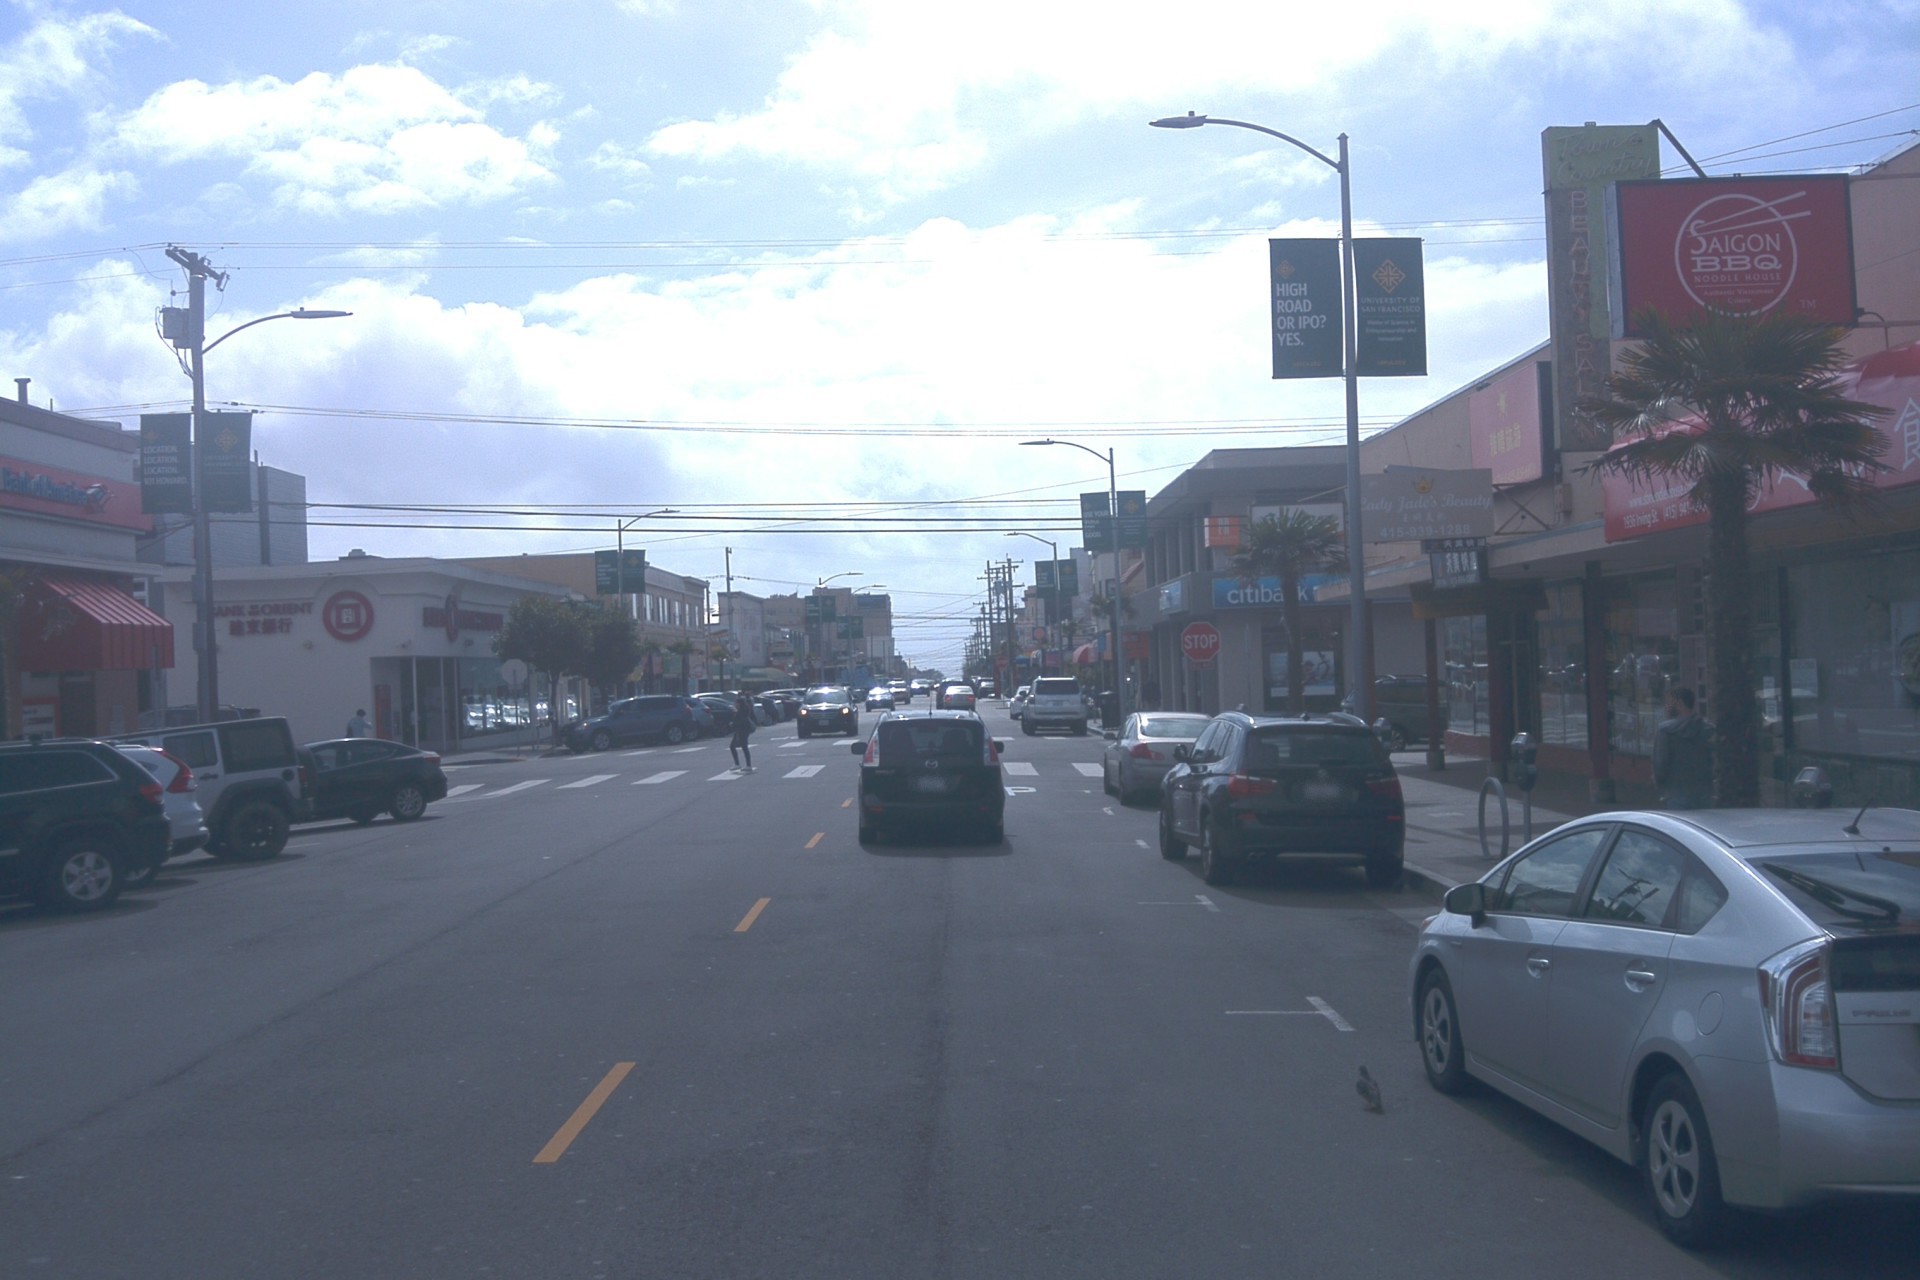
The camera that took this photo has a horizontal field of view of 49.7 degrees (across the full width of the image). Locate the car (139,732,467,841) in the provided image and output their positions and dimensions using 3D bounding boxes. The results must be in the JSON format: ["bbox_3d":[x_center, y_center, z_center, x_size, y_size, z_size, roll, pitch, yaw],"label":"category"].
[{"bbox_3d":[-10.483,2.295,33.277,4.590,1.478,2.019,1,-1,-43],"label":"car"}]

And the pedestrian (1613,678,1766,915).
[{"bbox_3d":[5.655,1.188,16.126,0.773,1.778,0.988,0,-1,-5],"label":"pedestrian"}]

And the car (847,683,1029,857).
[{"bbox_3d":[-0.276,1.552,26.268,2.097,1.972,4.570,0,-1,0],"label":"car"}]

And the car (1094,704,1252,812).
[{"bbox_3d":[3.354,1.838,33.481,1.988,1.532,4.724,0,-1,-1],"label":"car"}]

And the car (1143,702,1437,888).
[{"bbox_3d":[3.239,1.485,21.394,2.061,1.620,4.747,0,-1,-3],"label":"car"}]
